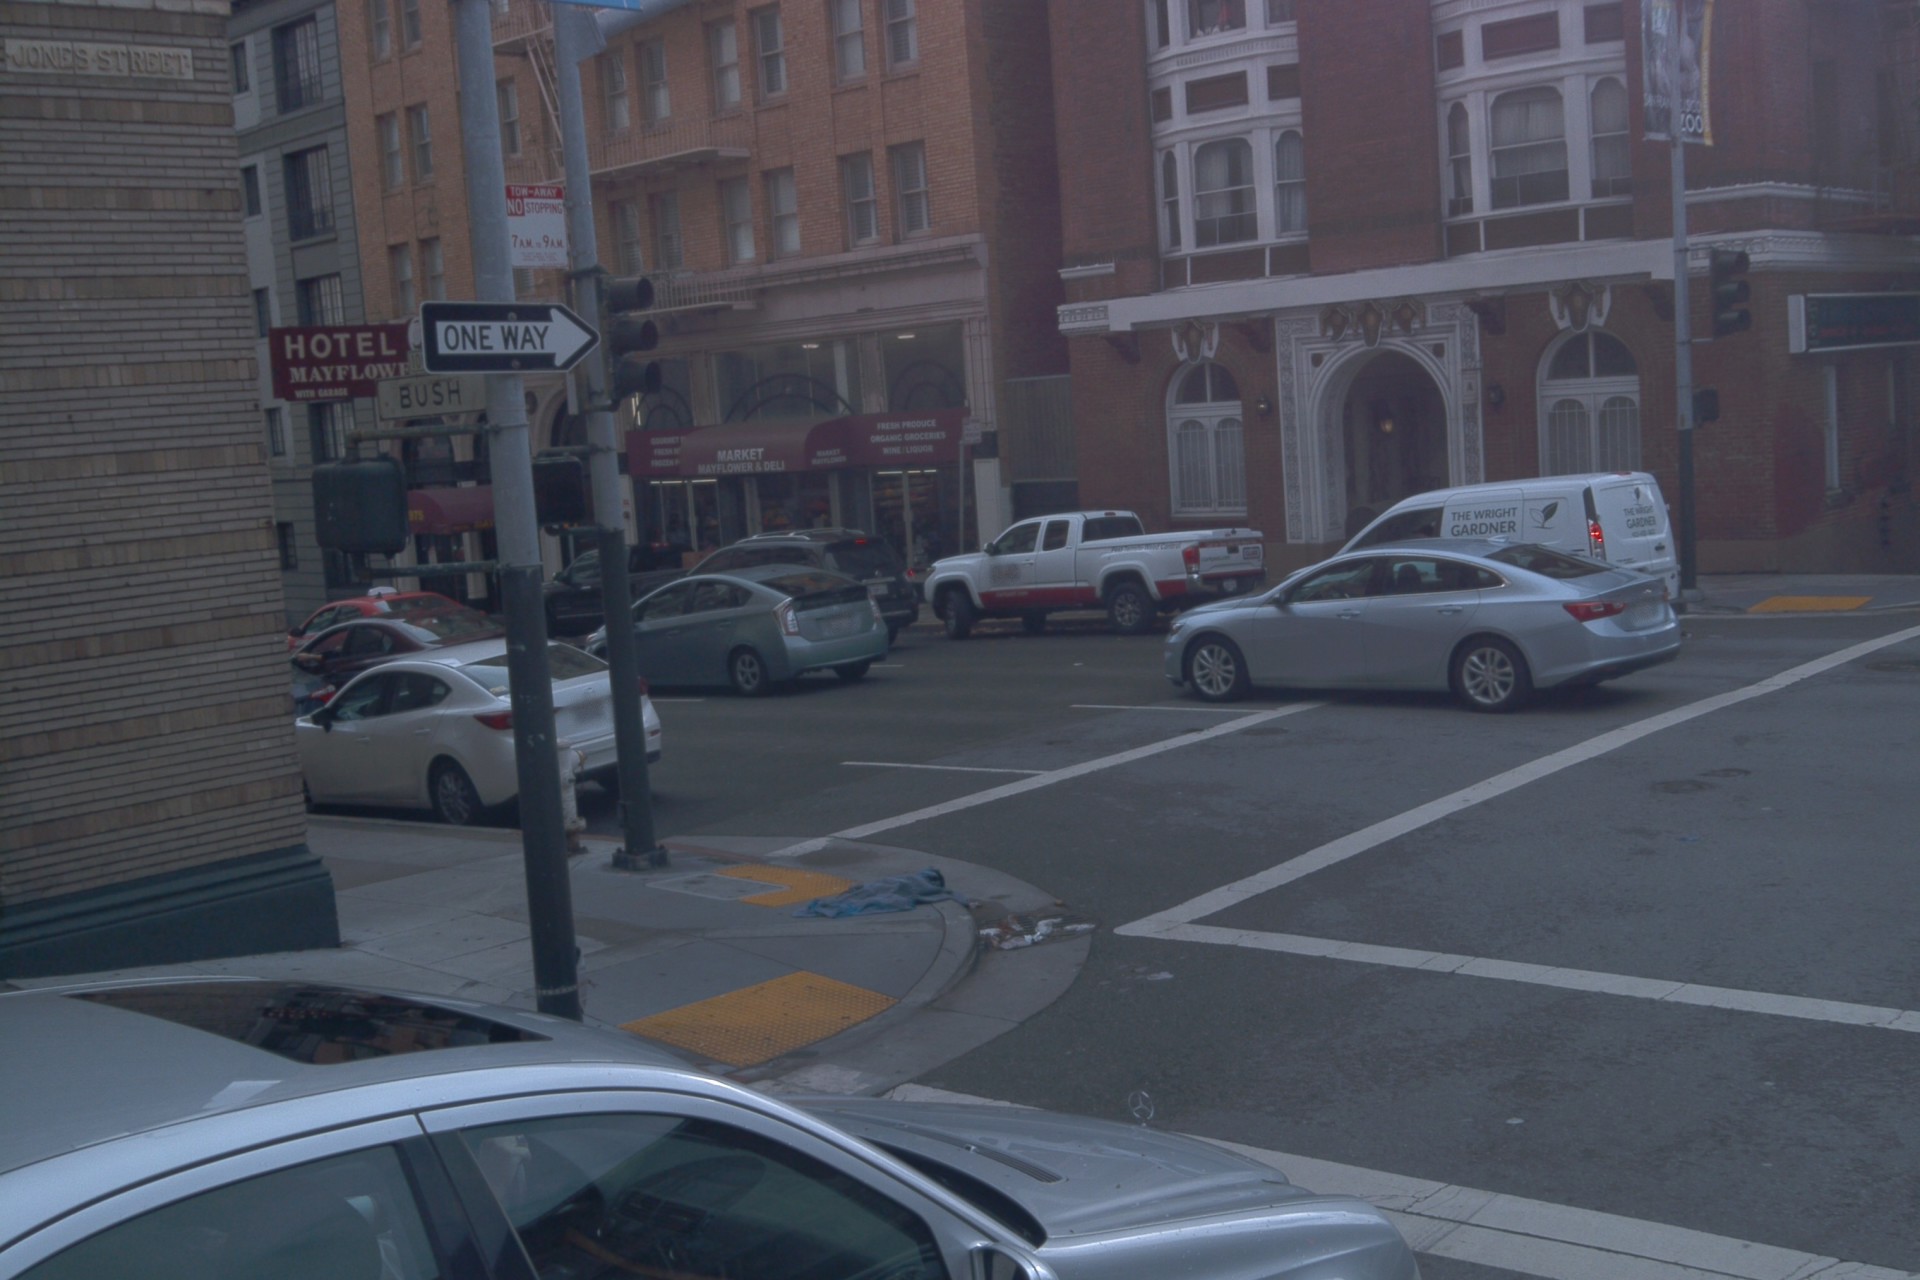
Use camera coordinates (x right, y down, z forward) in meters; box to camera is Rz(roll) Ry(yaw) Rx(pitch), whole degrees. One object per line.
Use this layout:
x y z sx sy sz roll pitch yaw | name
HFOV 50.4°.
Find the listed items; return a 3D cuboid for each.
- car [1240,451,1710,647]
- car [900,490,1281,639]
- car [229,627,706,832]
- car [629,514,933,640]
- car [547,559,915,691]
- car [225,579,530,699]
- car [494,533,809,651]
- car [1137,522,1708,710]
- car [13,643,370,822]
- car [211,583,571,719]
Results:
5.381 -0.923 21.734 1.947 1.870 4.461 0 1 -44 | car
1.776 -1.060 29.322 5.308 1.950 2.112 2 1 43 | car
-4.418 0.680 17.944 4.290 1.490 2.048 2 1 43 | car
-2.694 -0.905 29.852 4.624 1.700 1.865 2 1 45 | car
-2.882 -0.223 25.029 4.500 1.470 2.058 2 1 44 | car
-9.065 -0.067 31.534 4.902 1.680 2.362 2 1 44 | car
-5.641 -0.874 36.739 5.917 1.960 2.408 2 1 43 | car
4.081 -0.251 18.564 4.727 1.500 1.880 2 1 43 | car
-8.238 0.892 21.685 4.190 1.610 1.891 2 1 43 | car
-7.006 0.080 24.860 4.617 1.480 2.037 2 1 42 | car
